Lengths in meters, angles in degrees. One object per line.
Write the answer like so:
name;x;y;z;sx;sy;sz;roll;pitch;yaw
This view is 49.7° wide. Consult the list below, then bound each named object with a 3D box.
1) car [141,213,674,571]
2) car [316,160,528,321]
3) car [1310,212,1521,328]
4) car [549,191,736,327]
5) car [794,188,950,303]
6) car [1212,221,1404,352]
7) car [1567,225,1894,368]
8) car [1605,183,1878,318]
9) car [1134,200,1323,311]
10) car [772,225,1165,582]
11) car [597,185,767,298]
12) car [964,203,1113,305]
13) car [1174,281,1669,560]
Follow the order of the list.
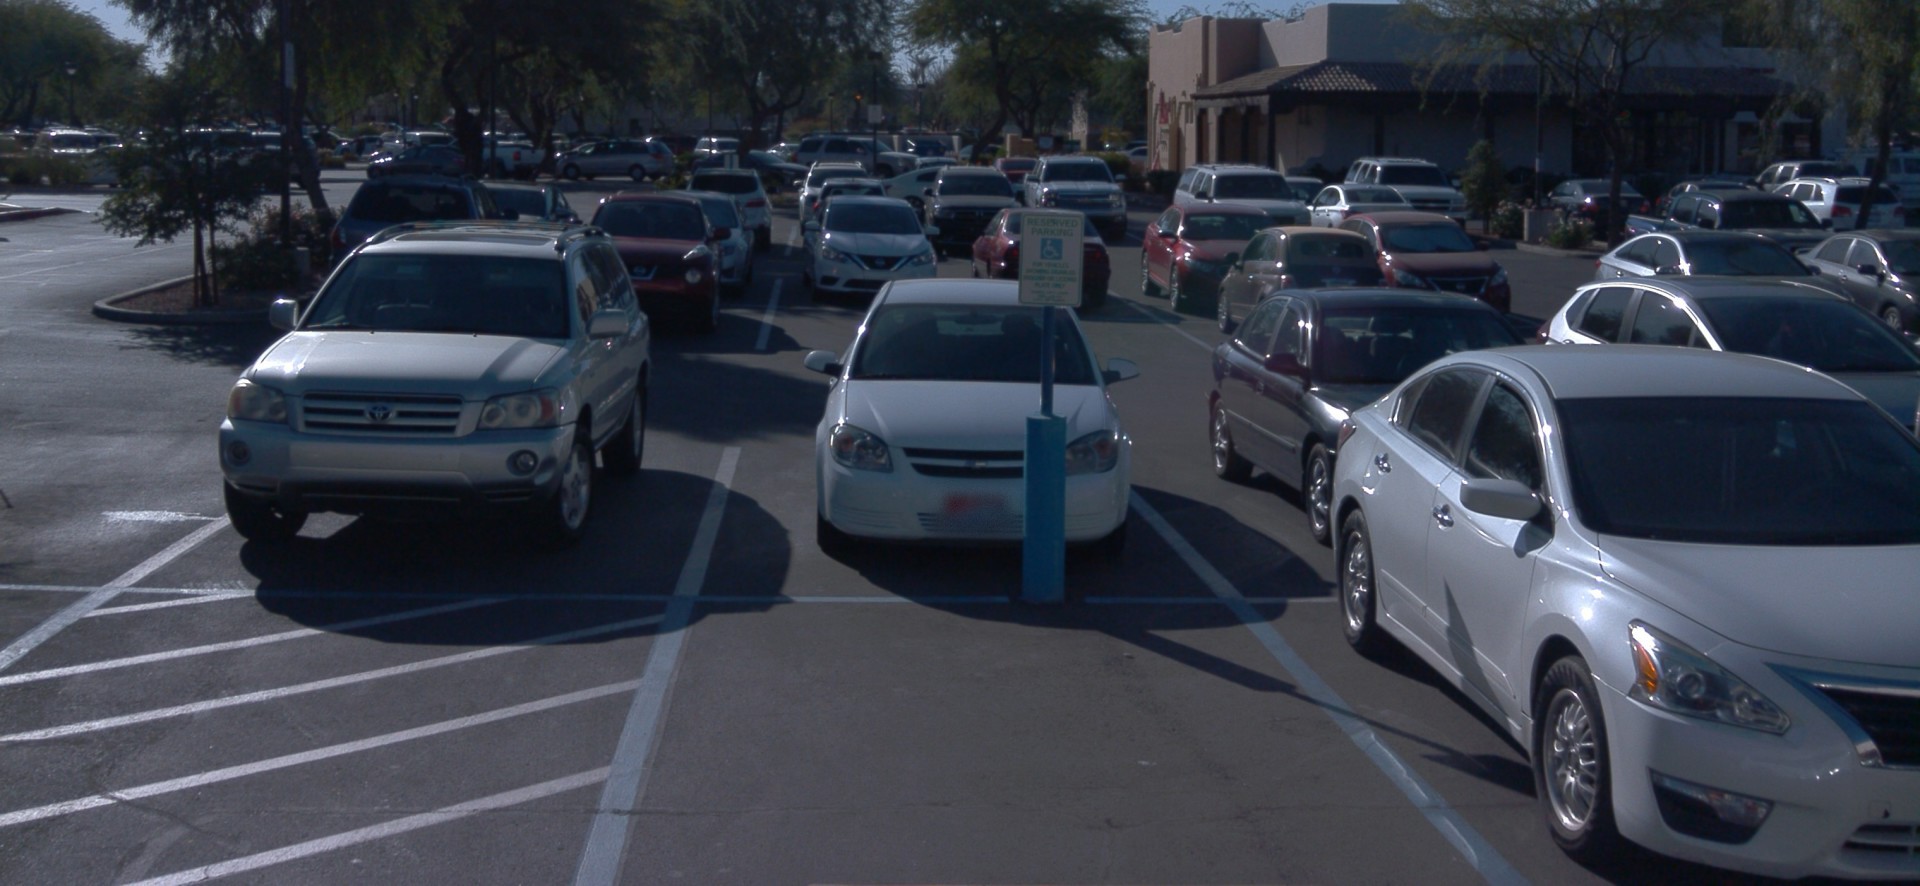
car;-3.094;-0.502;12.779;2.168;1.782;4.712;0;5;-2
car;-6.484;-2.502;25.464;2.103;1.772;4.426;0;5;-9
car;6.692;-2.636;31.001;2.011;1.593;4.471;0;5;-2
car;-3.833;-2.313;25.670;1.981;1.523;4.063;0;5;-5
car;-1.411;-3.012;31.378;2.013;1.583;4.466;0;6;-7
car;4.355;-2.061;26.504;1.731;1.533;3.842;0;5;-1
car;9.514;-1.923;26.124;2.182;1.602;4.846;0;6;-2
car;12.005;-3.037;32.326;2.088;1.901;5.337;0;5;-2
car;4.014;-2.922;31.902;2.087;1.562;4.909;0;6;-2
car;-0.034;-0.437;12.882;1.993;1.802;4.585;0;5;-2
car;-4.074;-3.052;31.161;2.119;1.543;4.604;0;6;-3
car;1.136;-2.944;31.933;1.907;1.433;4.258;0;6;-3
car;2.721;-0.295;13.429;2.006;1.353;4.565;0;6;-3
